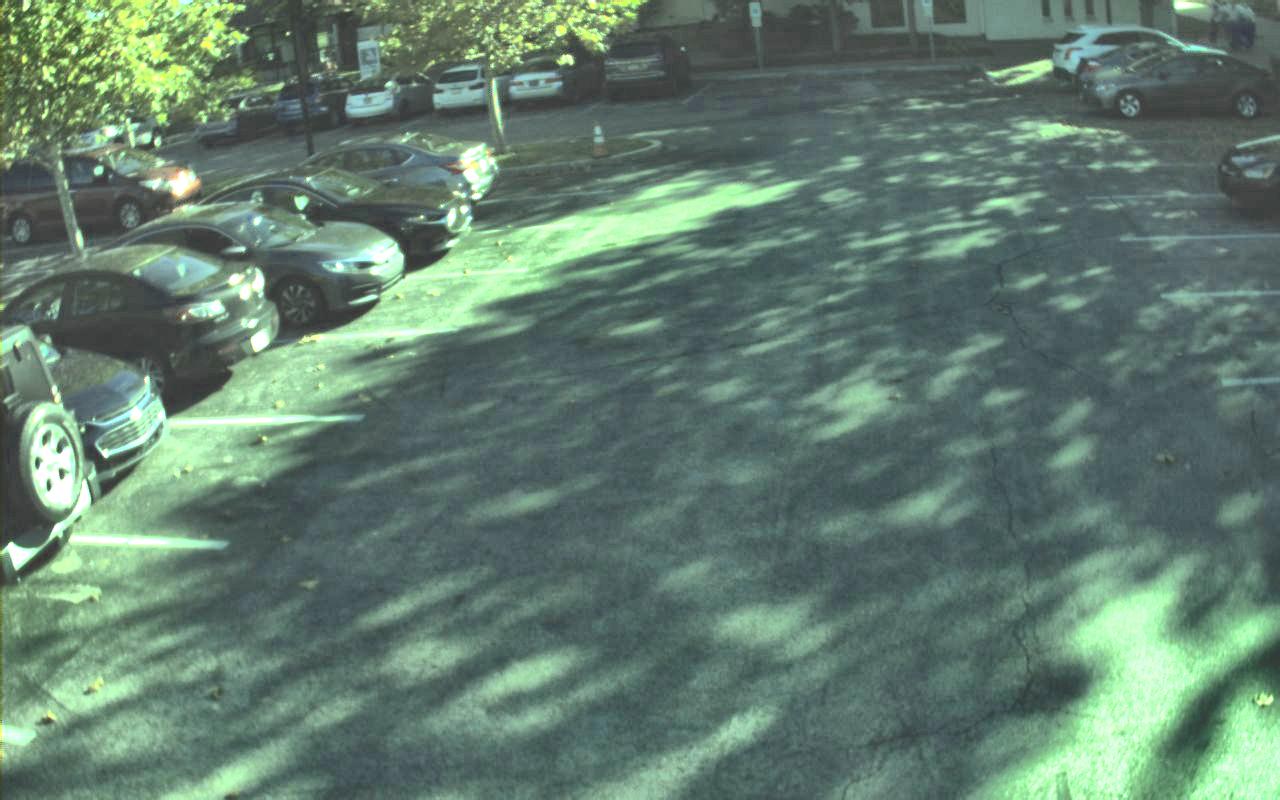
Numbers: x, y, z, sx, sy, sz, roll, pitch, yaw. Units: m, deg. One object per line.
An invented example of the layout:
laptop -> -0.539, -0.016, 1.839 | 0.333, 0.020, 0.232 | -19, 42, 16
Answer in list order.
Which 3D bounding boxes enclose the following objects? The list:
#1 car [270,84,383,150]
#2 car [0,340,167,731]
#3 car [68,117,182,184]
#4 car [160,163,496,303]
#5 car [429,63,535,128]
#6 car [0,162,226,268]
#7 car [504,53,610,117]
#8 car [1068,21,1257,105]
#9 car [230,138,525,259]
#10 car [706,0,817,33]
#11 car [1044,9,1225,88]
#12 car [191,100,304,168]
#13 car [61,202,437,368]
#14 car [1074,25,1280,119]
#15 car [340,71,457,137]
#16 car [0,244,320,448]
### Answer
car -> -9.901, -8.995, 38.374 | 1.964, 1.655, 4.525 | 2, 17, 9
car -> -5.928, 0.791, 7.652 | 4.626, 1.853, 2.051 | 2, 16, 9
car -> -18.158, -8.752, 40.631 | 1.999, 1.700, 4.690 | 2, 17, 10
car -> -4.377, -2.347, 17.158 | 4.383, 1.584, 1.945 | 1, 16, 7
car -> -4.693, -9.211, 37.149 | 1.960, 1.651, 4.521 | 2, 17, 10
car -> -11.092, -3.759, 23.886 | 4.771, 1.725, 2.041 | 2, 16, 10
car -> -2.339, -9.219, 36.064 | 1.950, 1.623, 4.490 | 2, 17, 11
car -> 11.979, -7.713, 26.189 | 4.361, 1.585, 1.948 | 3, 17, 12
car -> -4.215, -3.237, 19.715 | 4.364, 1.614, 1.947 | 2, 16, 9
car -> 5.522, -17.349, 55.006 | 4.852, 1.713, 2.091 | 2, 16, 9
car -> 12.303, -8.713, 28.578 | 4.457, 1.651, 1.973 | 1, 16, 8
car -> -12.677, -8.600, 38.586 | 1.972, 1.673, 4.548 | 1, 17, 8
car -> -4.875, -1.456, 14.842 | 4.367, 1.559, 1.938 | 2, 17, 10
car -> 11.424, -6.903, 23.952 | 4.552, 1.592, 1.980 | 2, 17, 11
car -> -7.397, -9.152, 37.719 | 1.958, 1.649, 4.510 | 3, 17, 13
car -> -5.852, -0.712, 12.708 | 4.410, 1.586, 1.961 | 4, 17, 16
